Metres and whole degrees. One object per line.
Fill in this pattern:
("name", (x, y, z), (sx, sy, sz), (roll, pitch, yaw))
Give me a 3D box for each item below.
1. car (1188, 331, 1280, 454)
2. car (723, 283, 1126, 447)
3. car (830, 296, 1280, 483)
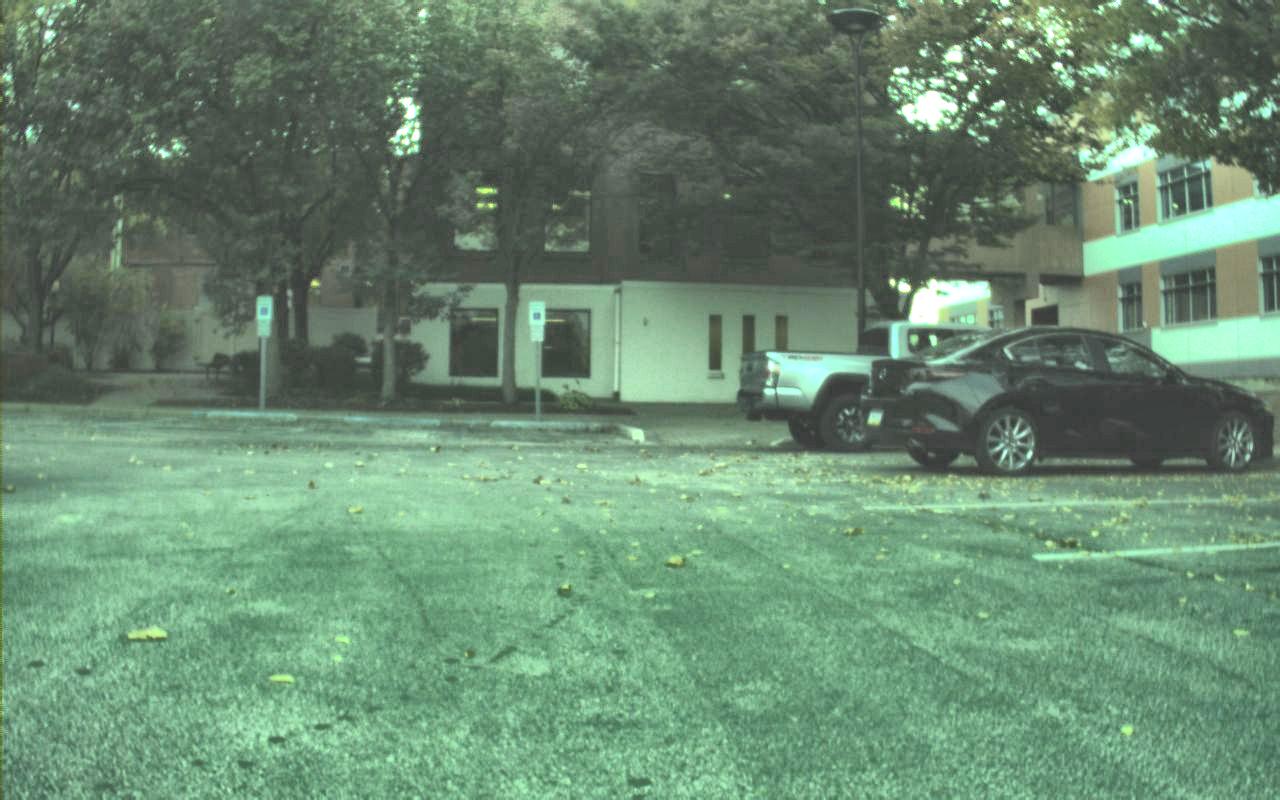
("car", (9.411, -0.090, 16.449), (1.937, 1.574, 4.478), (1, 1, 10))
("car", (3.975, -0.456, 17.200), (5.320, 2.056, 2.174), (0, 1, -9))
("car", (4.409, -0.109, 12.048), (4.709, 1.596, 1.967), (0, 1, -12))
